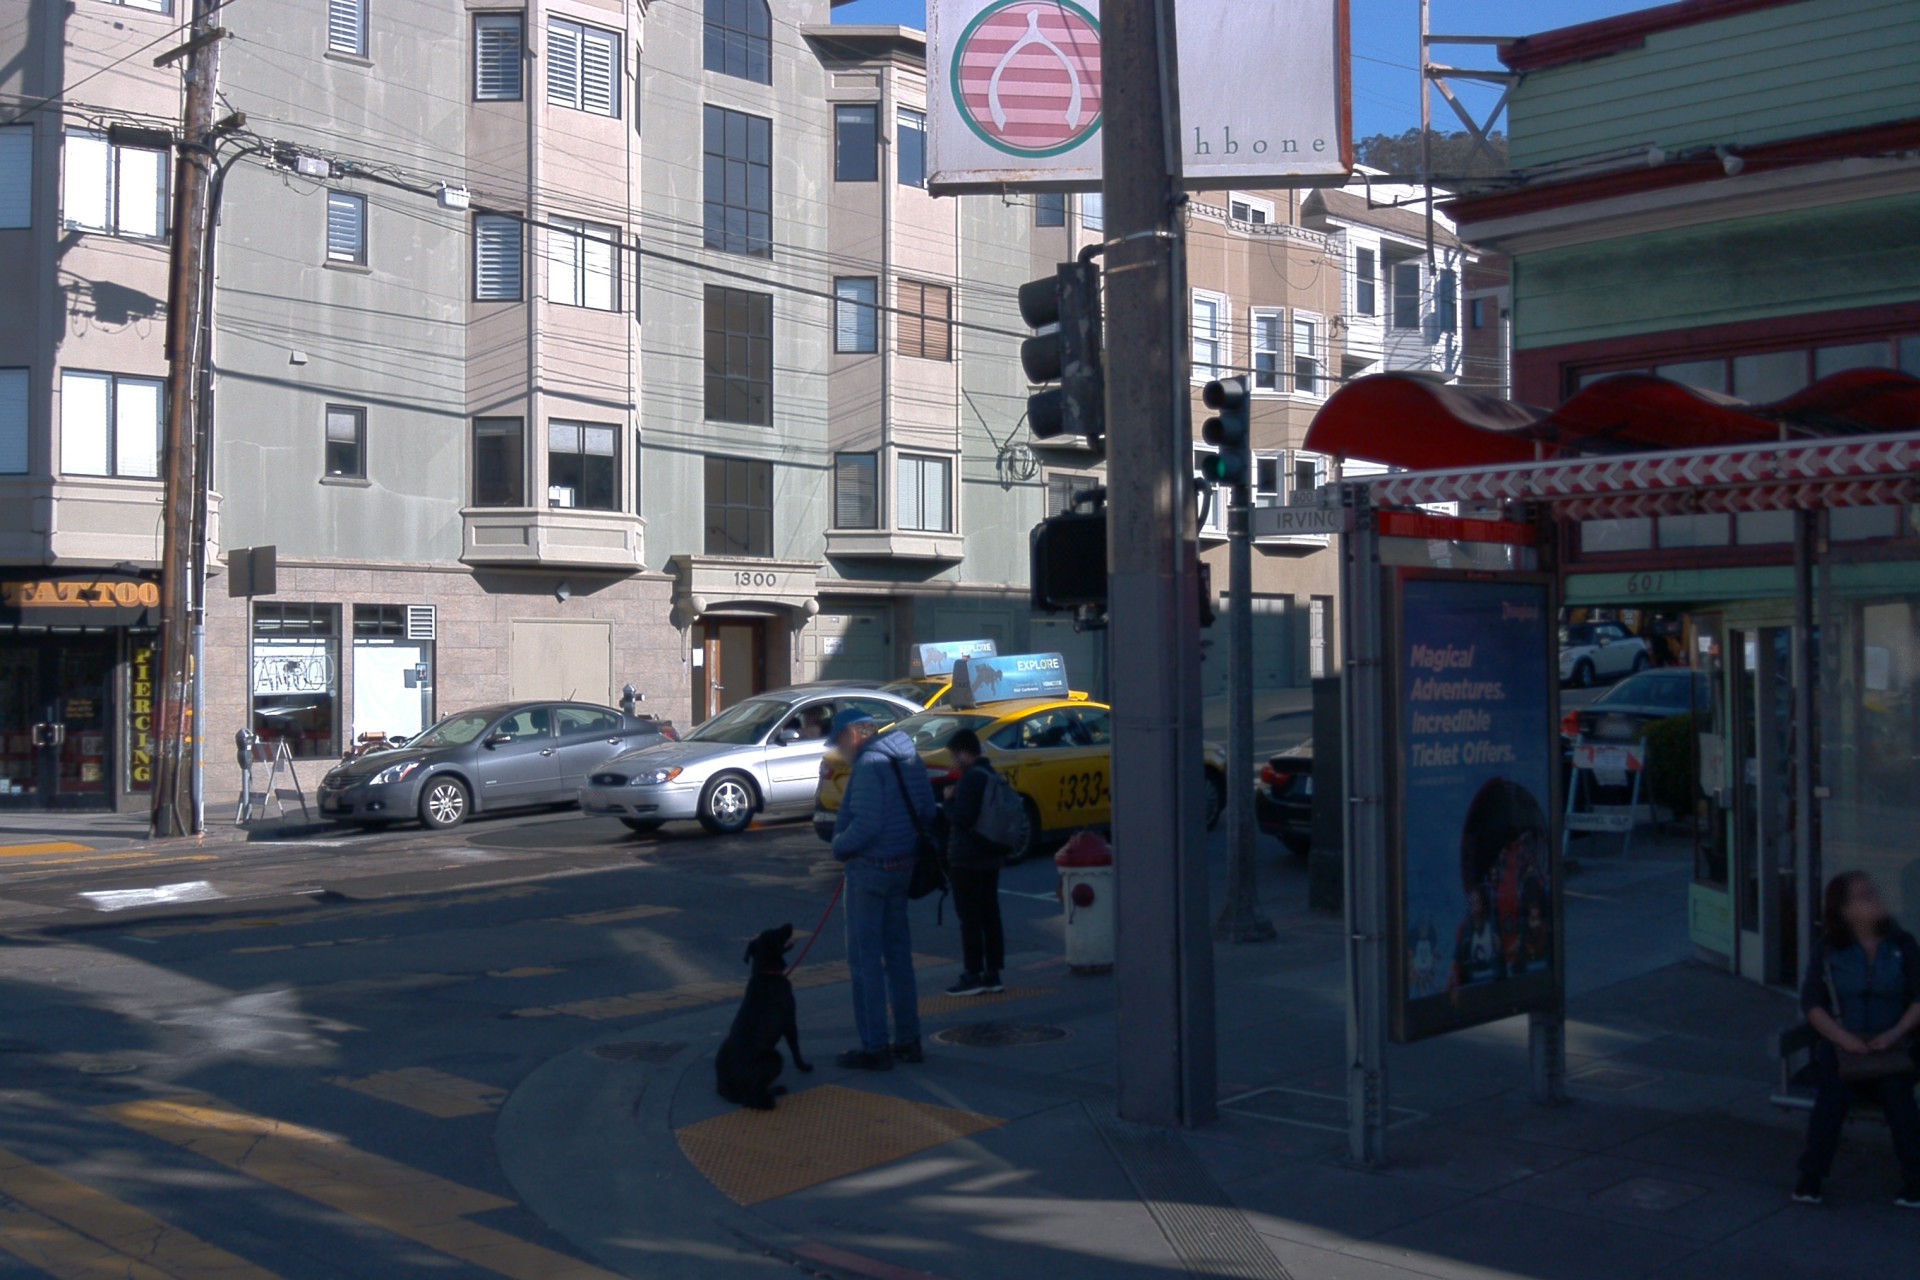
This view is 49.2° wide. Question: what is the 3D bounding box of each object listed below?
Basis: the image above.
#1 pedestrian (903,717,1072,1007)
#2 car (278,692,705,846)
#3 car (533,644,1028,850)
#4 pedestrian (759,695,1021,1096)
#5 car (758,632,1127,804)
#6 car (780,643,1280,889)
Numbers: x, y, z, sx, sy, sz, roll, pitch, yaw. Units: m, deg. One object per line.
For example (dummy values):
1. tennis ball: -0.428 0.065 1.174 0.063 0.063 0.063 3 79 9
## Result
1. pedestrian: 0.168 1.344 13.044 0.687 1.700 0.778 0 0 -43
2. car: -5.776 1.522 26.272 2.149 1.660 4.833 0 0 44
3. car: -1.906 1.091 23.232 5.035 2.030 2.283 1 0 -40
4. pedestrian: -0.345 1.219 10.525 0.894 1.860 0.955 1 0 38
5. car: -0.149 0.973 27.931 4.772 2.100 2.070 1 0 -44
6. car: 0.817 1.099 20.448 2.091 2.090 4.992 1 0 43
